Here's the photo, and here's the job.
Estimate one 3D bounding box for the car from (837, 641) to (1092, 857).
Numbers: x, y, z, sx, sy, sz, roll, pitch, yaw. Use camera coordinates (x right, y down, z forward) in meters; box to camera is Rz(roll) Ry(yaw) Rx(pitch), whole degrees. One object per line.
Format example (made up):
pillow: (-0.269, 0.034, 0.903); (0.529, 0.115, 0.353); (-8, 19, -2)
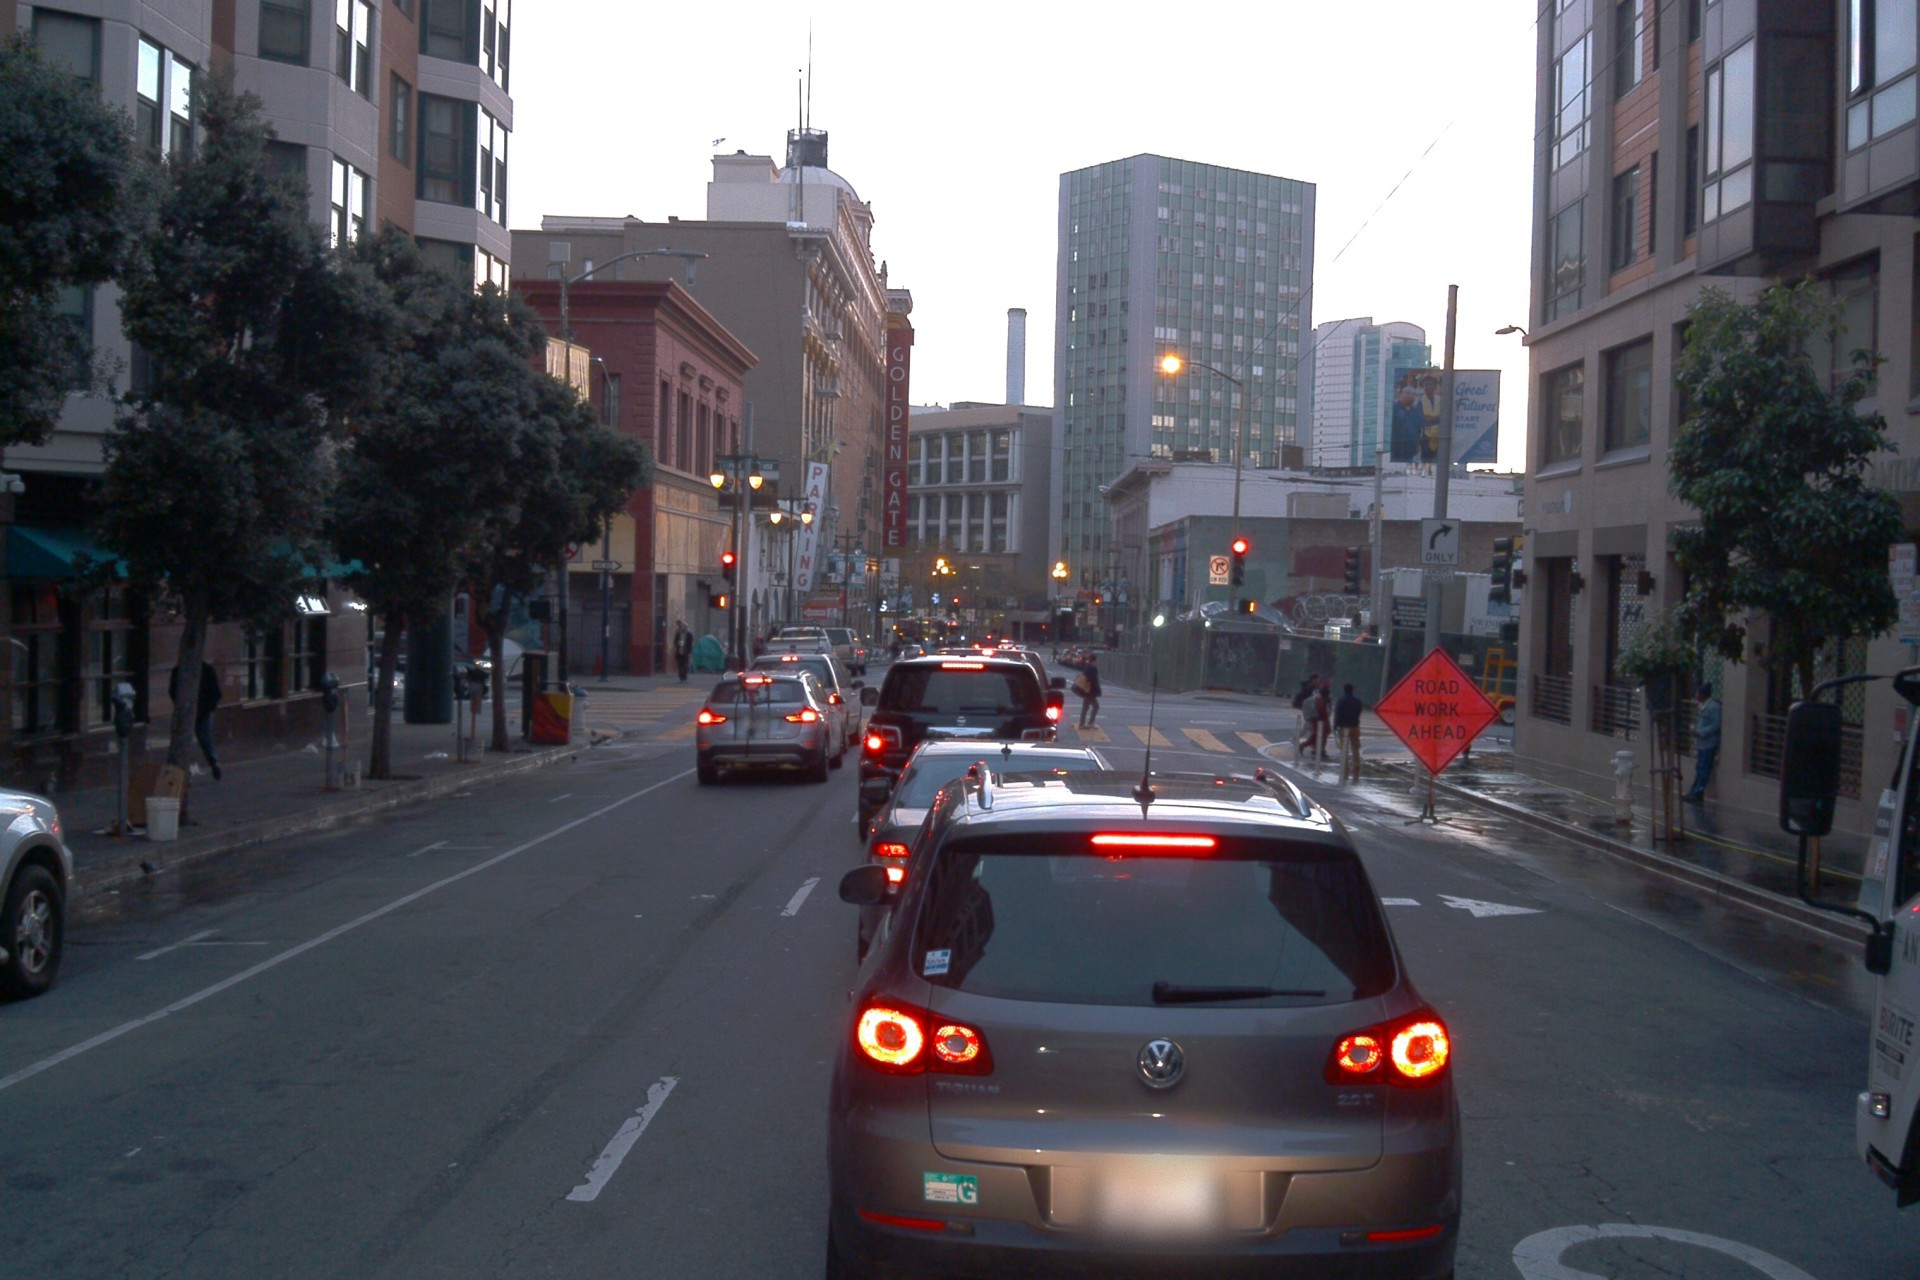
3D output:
car: (0.036, 1.031, 21.904); (2.368, 1.940, 5.339); (1, 1, 0)

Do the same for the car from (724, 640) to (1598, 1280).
car: (0.546, 1.065, 7.023); (2.109, 2.050, 3.981); (1, 1, 2)

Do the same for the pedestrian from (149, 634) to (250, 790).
pedestrian: (-9.354, 0.867, 25.089); (0.828, 1.860, 1.059); (1, 1, -1)

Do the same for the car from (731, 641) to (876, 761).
car: (-2.657, 1.001, 35.547); (1.896, 1.880, 4.462); (1, 1, 4)

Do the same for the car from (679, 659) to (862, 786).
car: (-2.614, 1.113, 29.083); (2.110, 1.572, 4.118); (1, 1, 1)

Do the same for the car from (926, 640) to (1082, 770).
car: (0.622, 0.858, 29.391); (2.036, 1.650, 4.678); (1, 1, 1)

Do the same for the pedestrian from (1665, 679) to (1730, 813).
pedestrian: (10.762, 1.535, 29.715); (0.659, 1.890, 0.755); (1, 1, 4)

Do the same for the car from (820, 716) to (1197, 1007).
car: (0.292, 1.325, 13.592); (2.089, 1.400, 4.279); (1, 1, 1)

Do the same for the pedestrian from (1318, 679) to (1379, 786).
pedestrian: (6.687, 1.579, 35.068); (0.777, 1.790, 0.924); (1, 1, -3)
